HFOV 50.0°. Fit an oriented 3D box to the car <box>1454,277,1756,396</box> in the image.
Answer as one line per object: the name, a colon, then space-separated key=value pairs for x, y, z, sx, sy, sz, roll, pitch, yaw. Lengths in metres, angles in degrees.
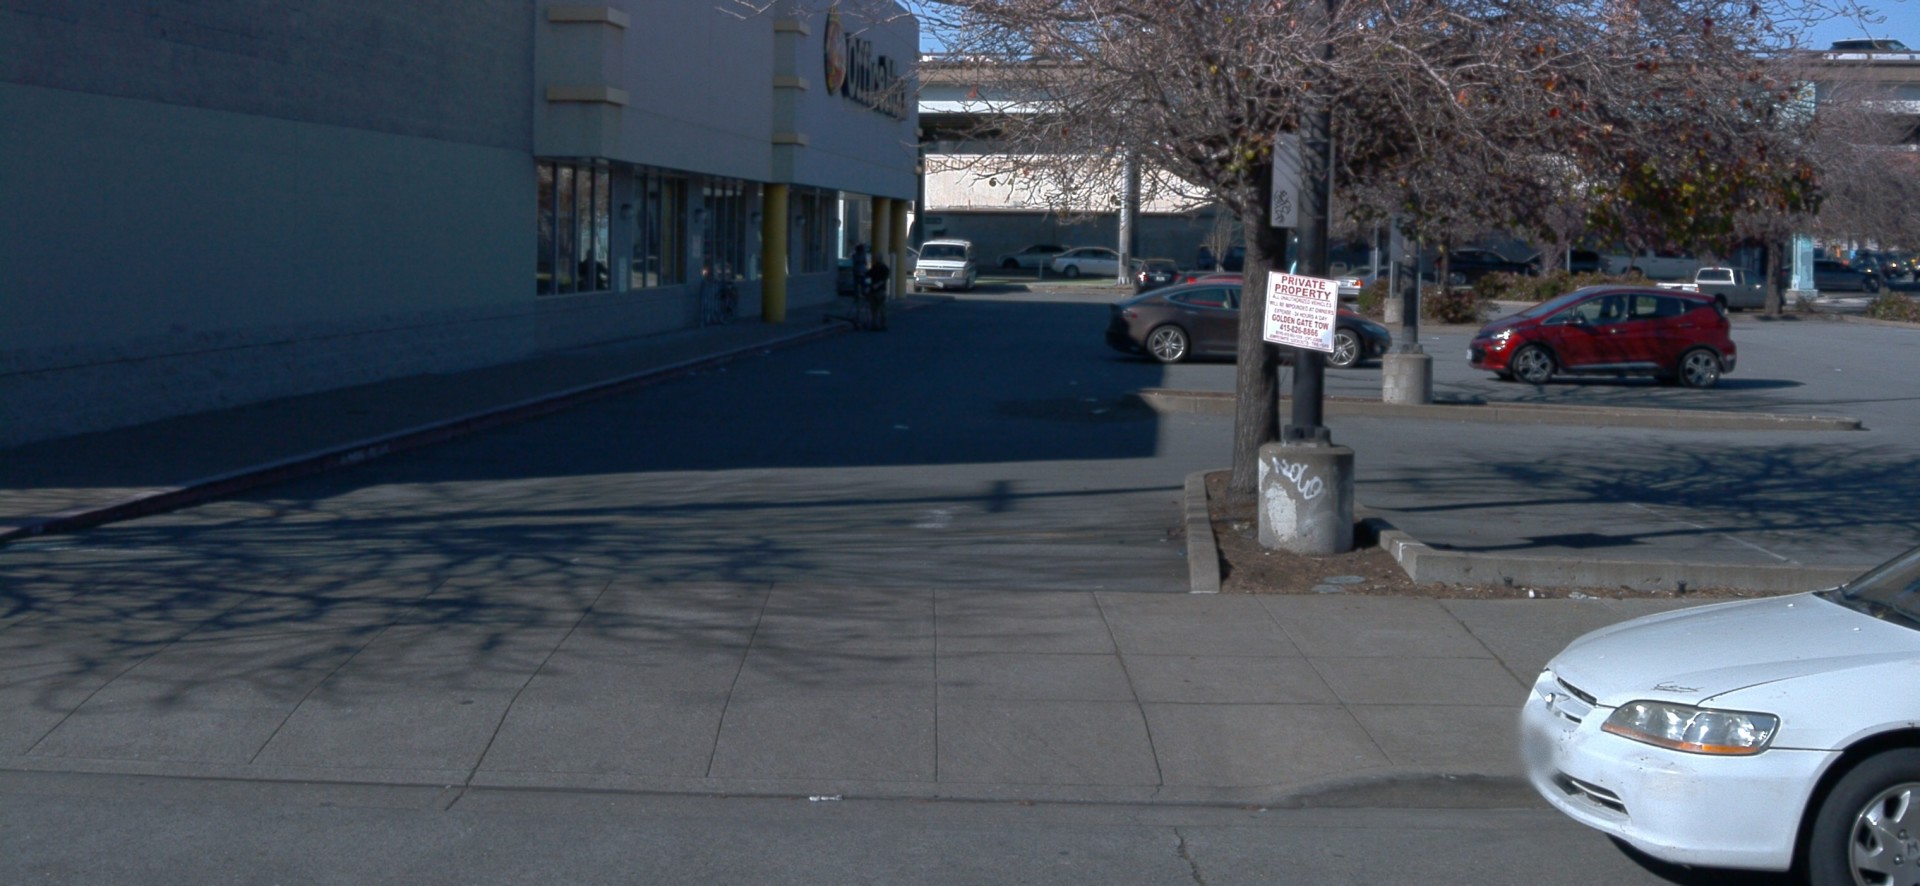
car: x=10.188 y=-1.725 z=32.735 sx=4.156 sy=1.695 sz=2.038 roll=1 pitch=4 yaw=2

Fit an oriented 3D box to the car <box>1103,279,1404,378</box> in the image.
car: x=5.046 y=-2.025 z=35.895 sx=5.044 sy=1.525 sz=1.995 roll=1 pitch=4 yaw=5
